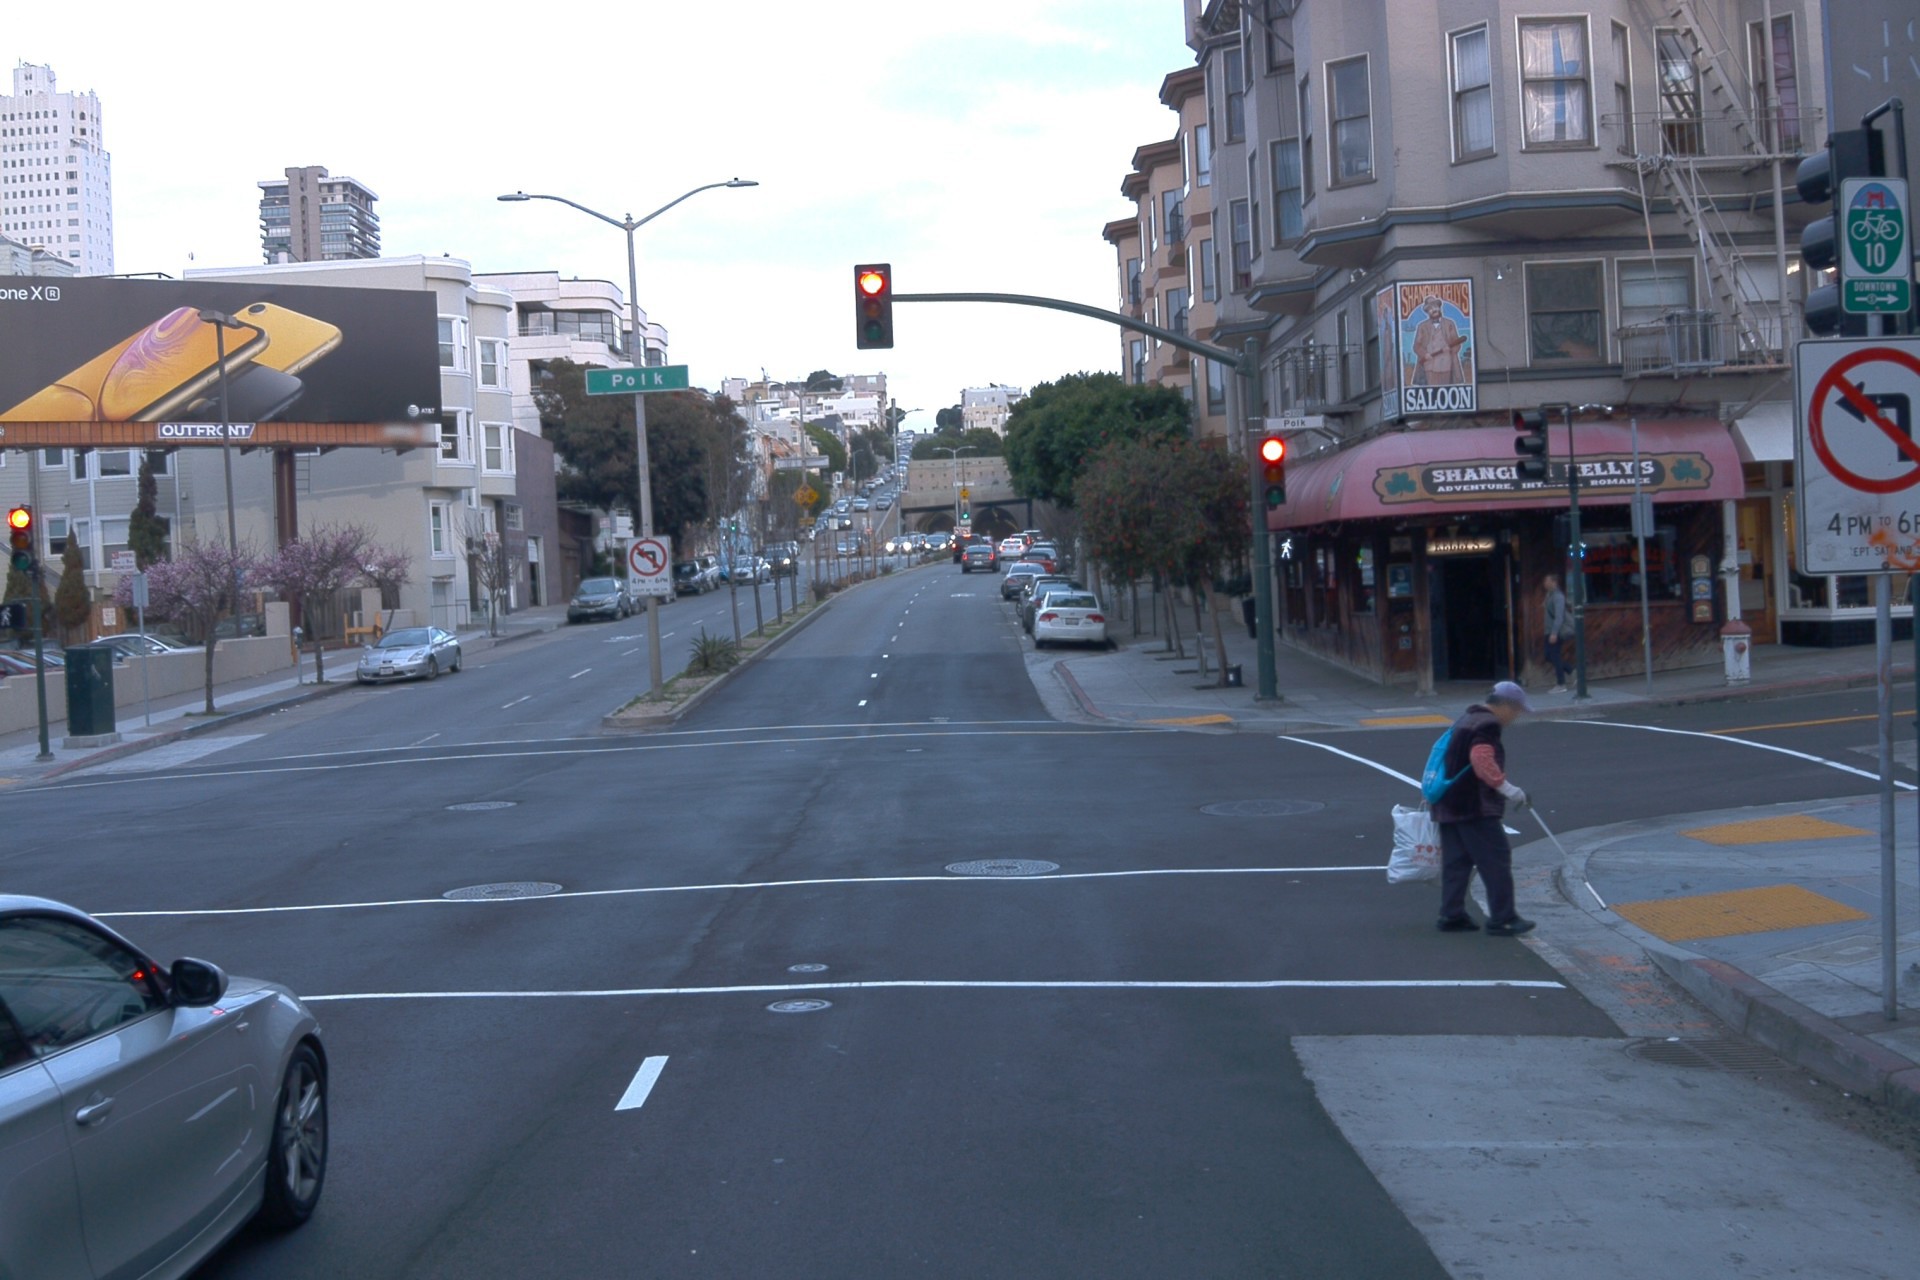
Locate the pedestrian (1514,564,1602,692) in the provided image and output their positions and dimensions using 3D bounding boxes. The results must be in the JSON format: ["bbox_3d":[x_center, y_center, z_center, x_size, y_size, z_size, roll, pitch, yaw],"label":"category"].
[{"bbox_3d":[9.004,-0.178,31.041,1.051,1.890,0.923,1,0,2],"label":"pedestrian"}]

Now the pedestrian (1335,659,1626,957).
[{"bbox_3d":[3.040,0.945,12.224,1.395,1.630,1.349,1,1,2],"label":"pedestrian"}]
